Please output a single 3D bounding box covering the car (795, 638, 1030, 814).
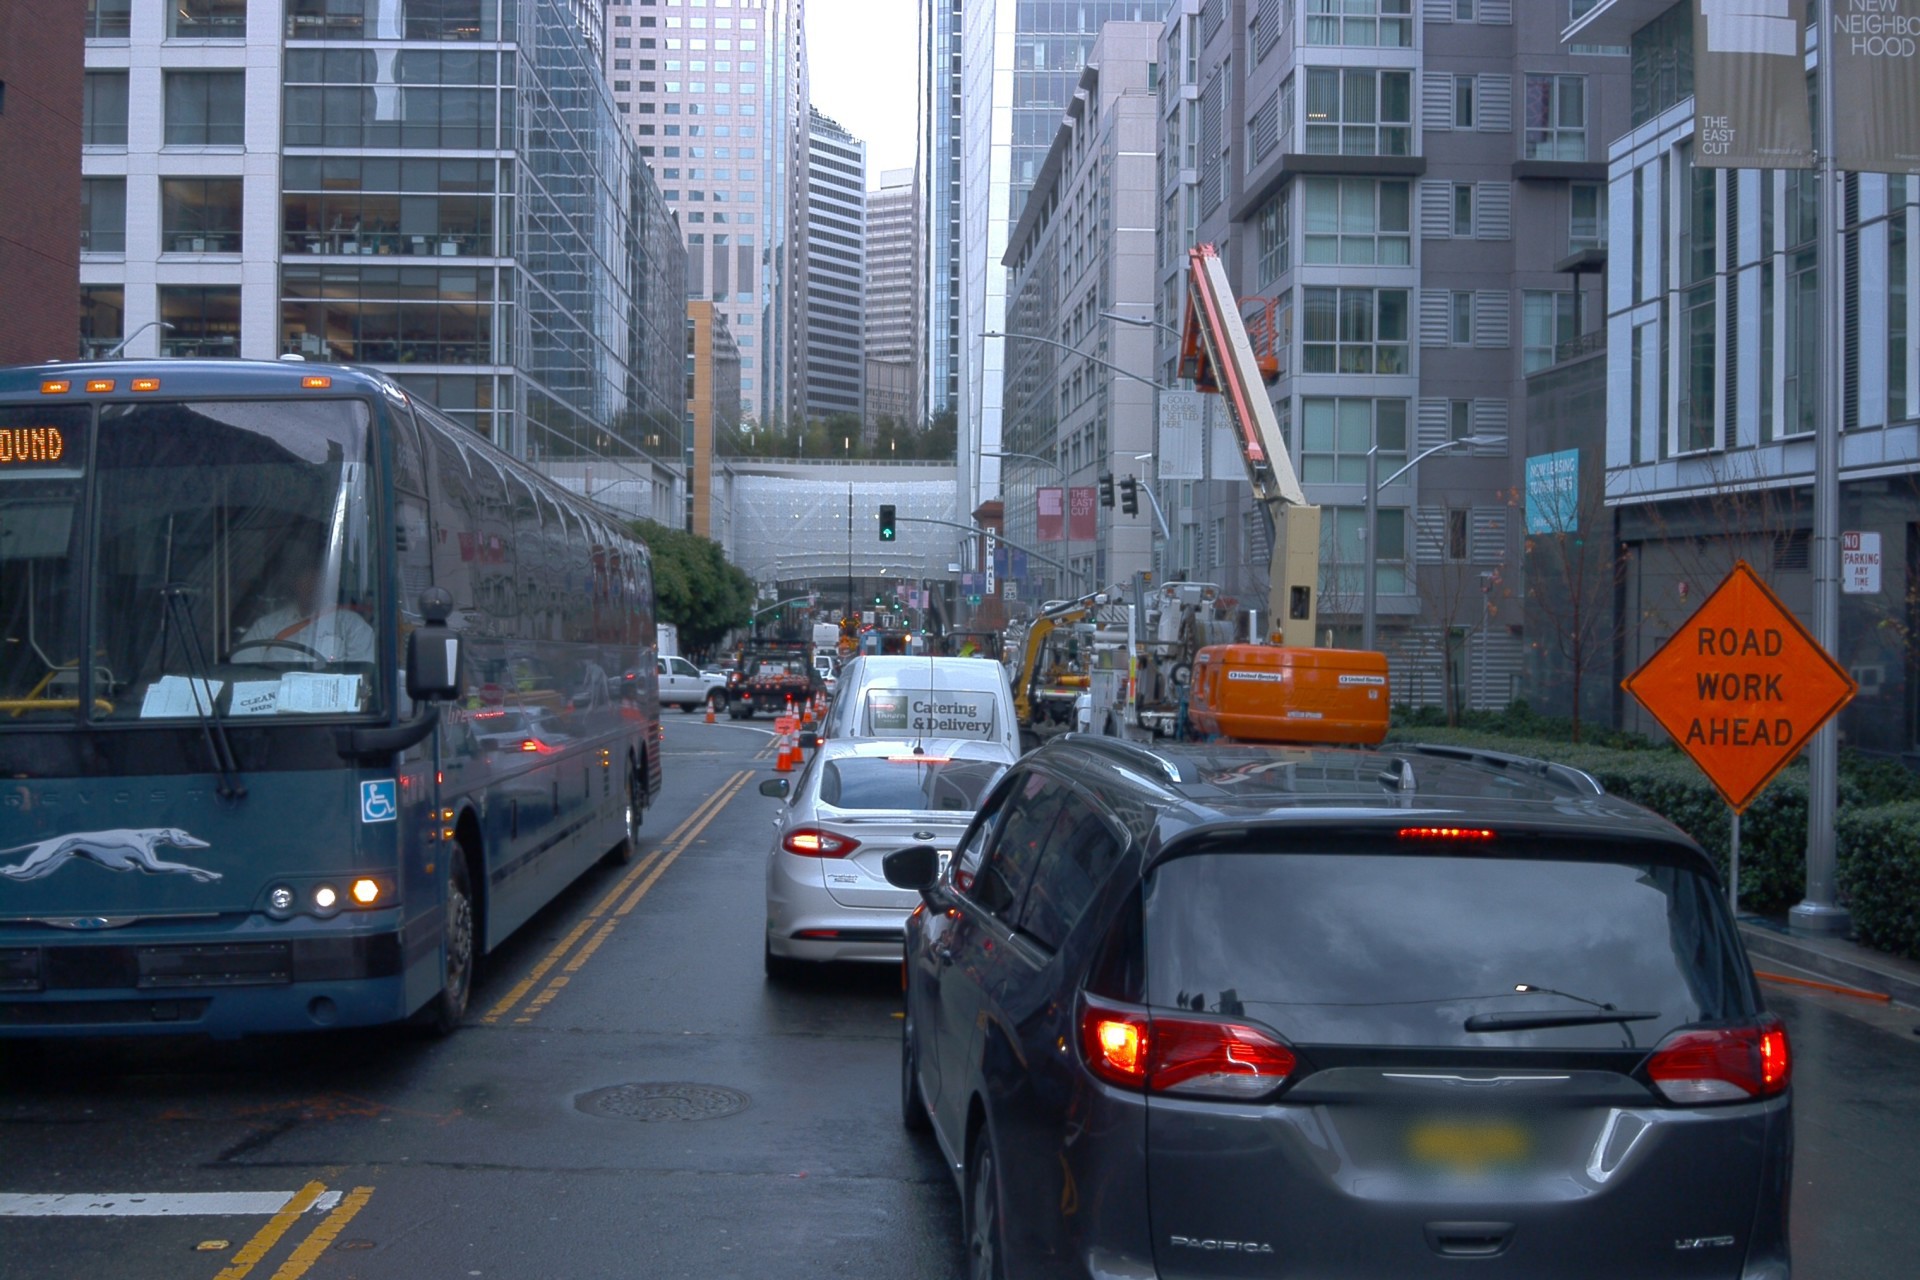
[{"bbox_3d":[-0.540,0.744,19.508,1.860,1.470,3.431,1,1,-7],"label":"car"}]

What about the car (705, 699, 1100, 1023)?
[{"bbox_3d":[-0.376,1.293,13.826,2.164,1.580,4.901,1,1,-1],"label":"car"}]

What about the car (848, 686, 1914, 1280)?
[{"bbox_3d":[0.803,1.117,6.811,2.058,1.750,4.787,1,1,-6],"label":"car"}]
